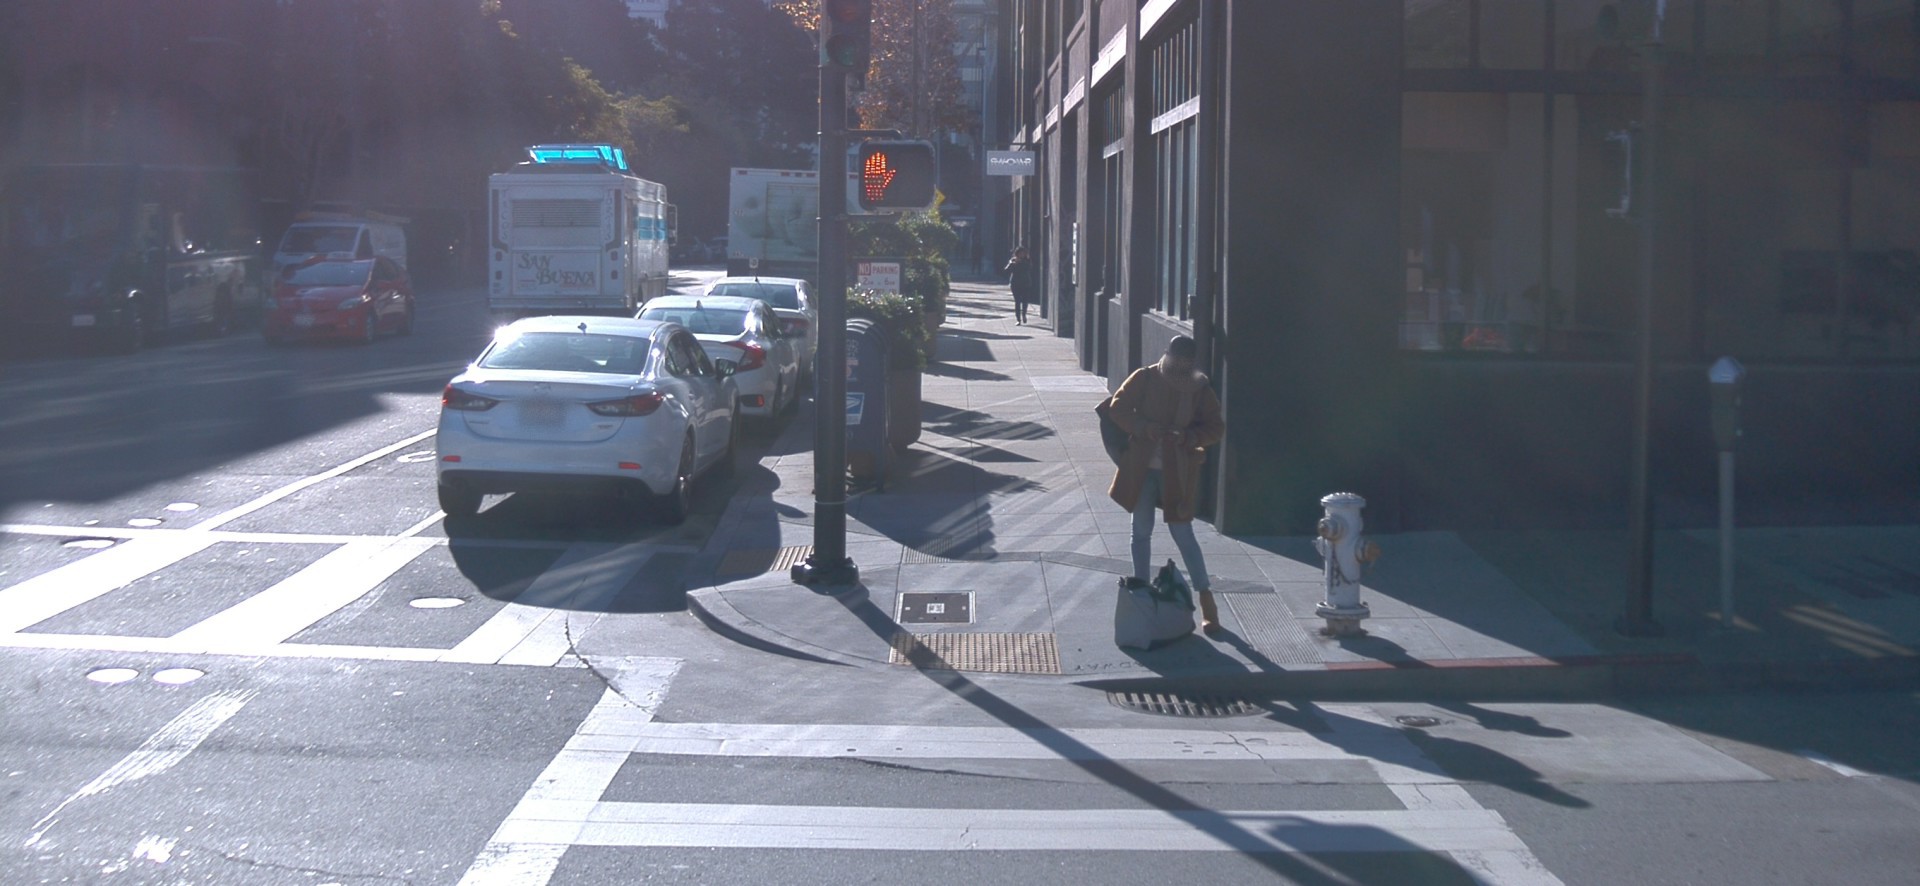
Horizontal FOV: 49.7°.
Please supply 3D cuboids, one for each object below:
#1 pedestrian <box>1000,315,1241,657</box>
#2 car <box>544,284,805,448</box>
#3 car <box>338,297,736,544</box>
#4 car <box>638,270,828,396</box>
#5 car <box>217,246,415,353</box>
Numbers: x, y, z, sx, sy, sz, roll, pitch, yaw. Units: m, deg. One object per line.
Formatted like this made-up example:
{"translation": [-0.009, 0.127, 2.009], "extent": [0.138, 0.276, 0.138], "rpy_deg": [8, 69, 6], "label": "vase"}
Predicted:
{"translation": [0.884, 0.179, 11.234], "extent": [0.977, 1.678, 1.024], "rpy_deg": [1, 2, 26], "label": "pedestrian"}
{"translation": [-2.966, -0.925, 22.548], "extent": [2.133, 1.463, 4.486], "rpy_deg": [0, 5, 1], "label": "car"}
{"translation": [-3.154, -0.326, 16.612], "extent": [2.137, 1.503, 4.915], "rpy_deg": [0, 6, 1], "label": "car"}
{"translation": [-3.013, -1.578, 28.499], "extent": [2.099, 1.473, 4.574], "rpy_deg": [0, 5, 0], "label": "car"}
{"translation": [-11.029, -2.534, 35.867], "extent": [2.096, 1.683, 4.412], "rpy_deg": [0, 5, -1], "label": "car"}
